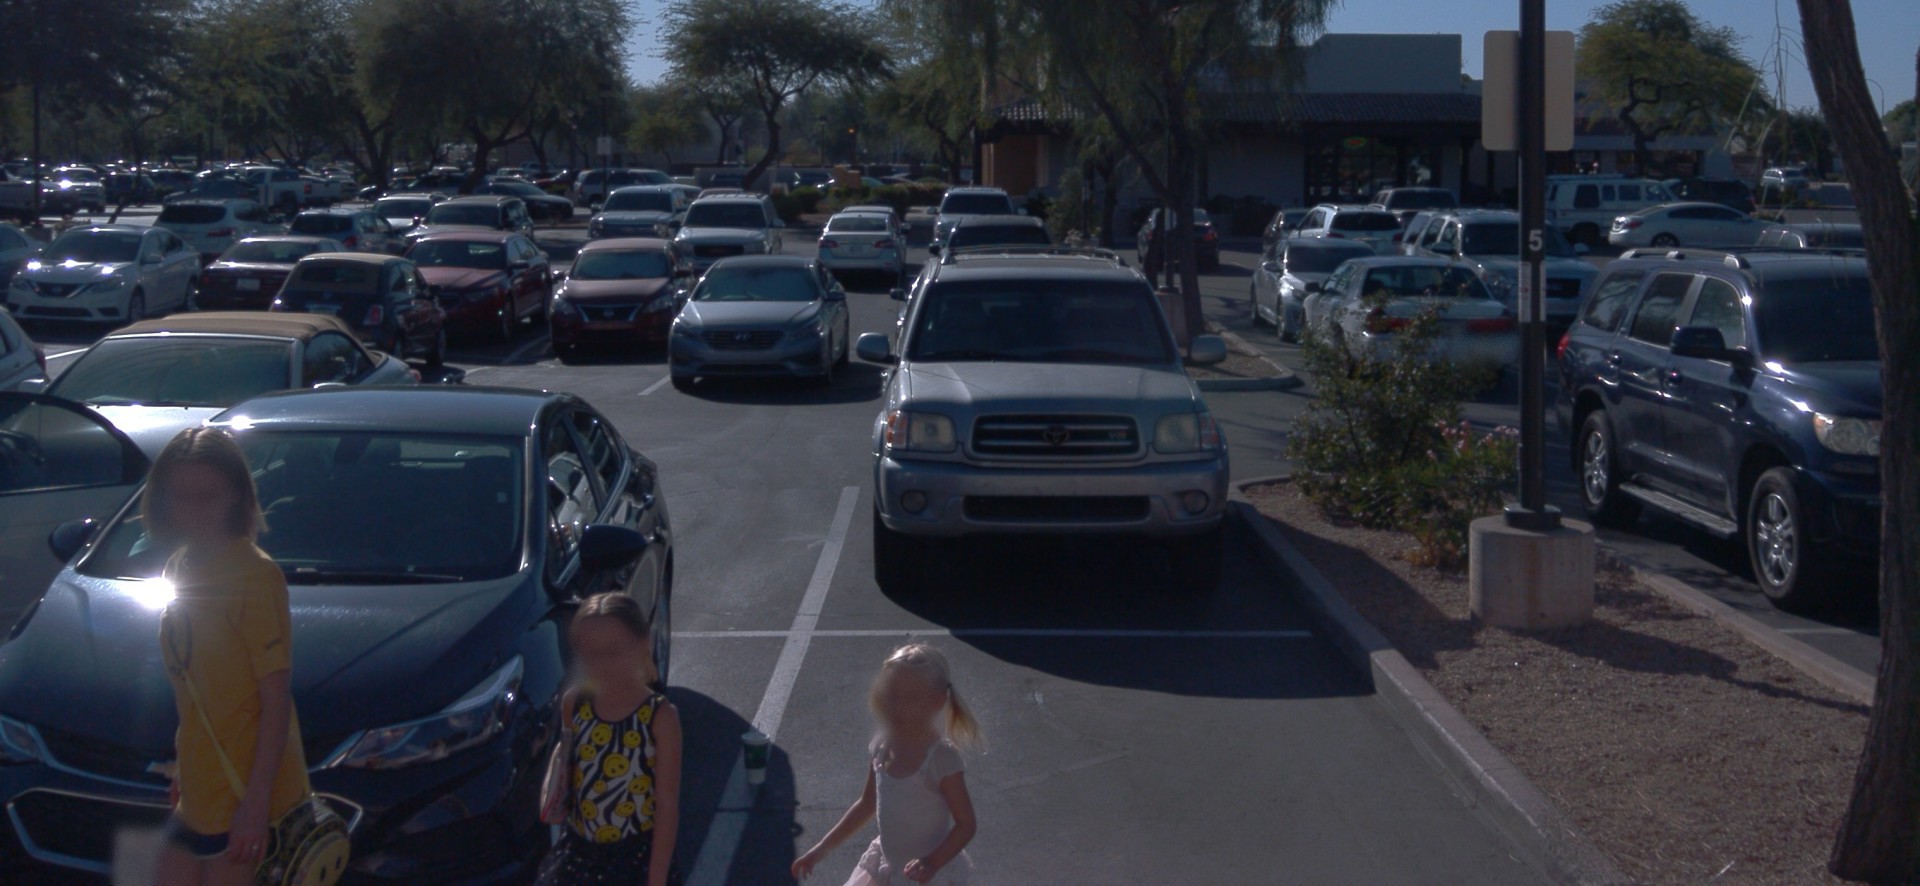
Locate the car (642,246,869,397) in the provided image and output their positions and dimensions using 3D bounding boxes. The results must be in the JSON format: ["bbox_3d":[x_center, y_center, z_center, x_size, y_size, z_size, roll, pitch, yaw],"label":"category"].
[{"bbox_3d":[-2.404,-1.587,25.658,2.180,1.602,4.850,1,6,1],"label":"car"}]

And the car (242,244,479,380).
[{"bbox_3d":[-7.490,-1.724,26.289,1.730,1.533,3.845,1,5,2],"label":"car"}]

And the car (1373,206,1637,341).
[{"bbox_3d":[8.259,-2.682,32.076,2.482,1.891,5.236,0,5,-3],"label":"car"}]

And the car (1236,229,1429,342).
[{"bbox_3d":[5.558,-2.453,31.528,2.127,1.553,4.507,1,6,0],"label":"car"}]

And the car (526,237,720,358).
[{"bbox_3d":[-4.875,-2.214,30.635,2.010,1.593,4.474,1,5,1],"label":"car"}]

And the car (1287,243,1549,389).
[{"bbox_3d":[5.568,-1.681,25.966,2.256,1.562,5.127,1,6,1],"label":"car"}]

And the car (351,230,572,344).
[{"bbox_3d":[-7.489,-2.456,31.709,2.086,1.562,4.913,1,6,1],"label":"car"}]

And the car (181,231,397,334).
[{"bbox_3d":[-10.216,-2.523,31.941,1.905,1.433,4.261,1,6,0],"label":"car"}]

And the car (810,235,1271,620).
[{"bbox_3d":[0.428,-0.338,13.391,2.383,1.941,5.207,1,5,0],"label":"car"}]

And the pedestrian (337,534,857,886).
[{"bbox_3d":[-0.825,0.923,4.743,0.824,1.258,0.825,3,3,40],"label":"pedestrian"}]

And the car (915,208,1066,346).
[{"bbox_3d":[0.506,-2.600,31.627,2.086,1.901,5.341,1,5,2],"label":"car"}]

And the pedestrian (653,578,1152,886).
[{"bbox_3d":[-0.128,1.015,4.879,0.824,1.198,0.825,3,3,38],"label":"pedestrian"}]
